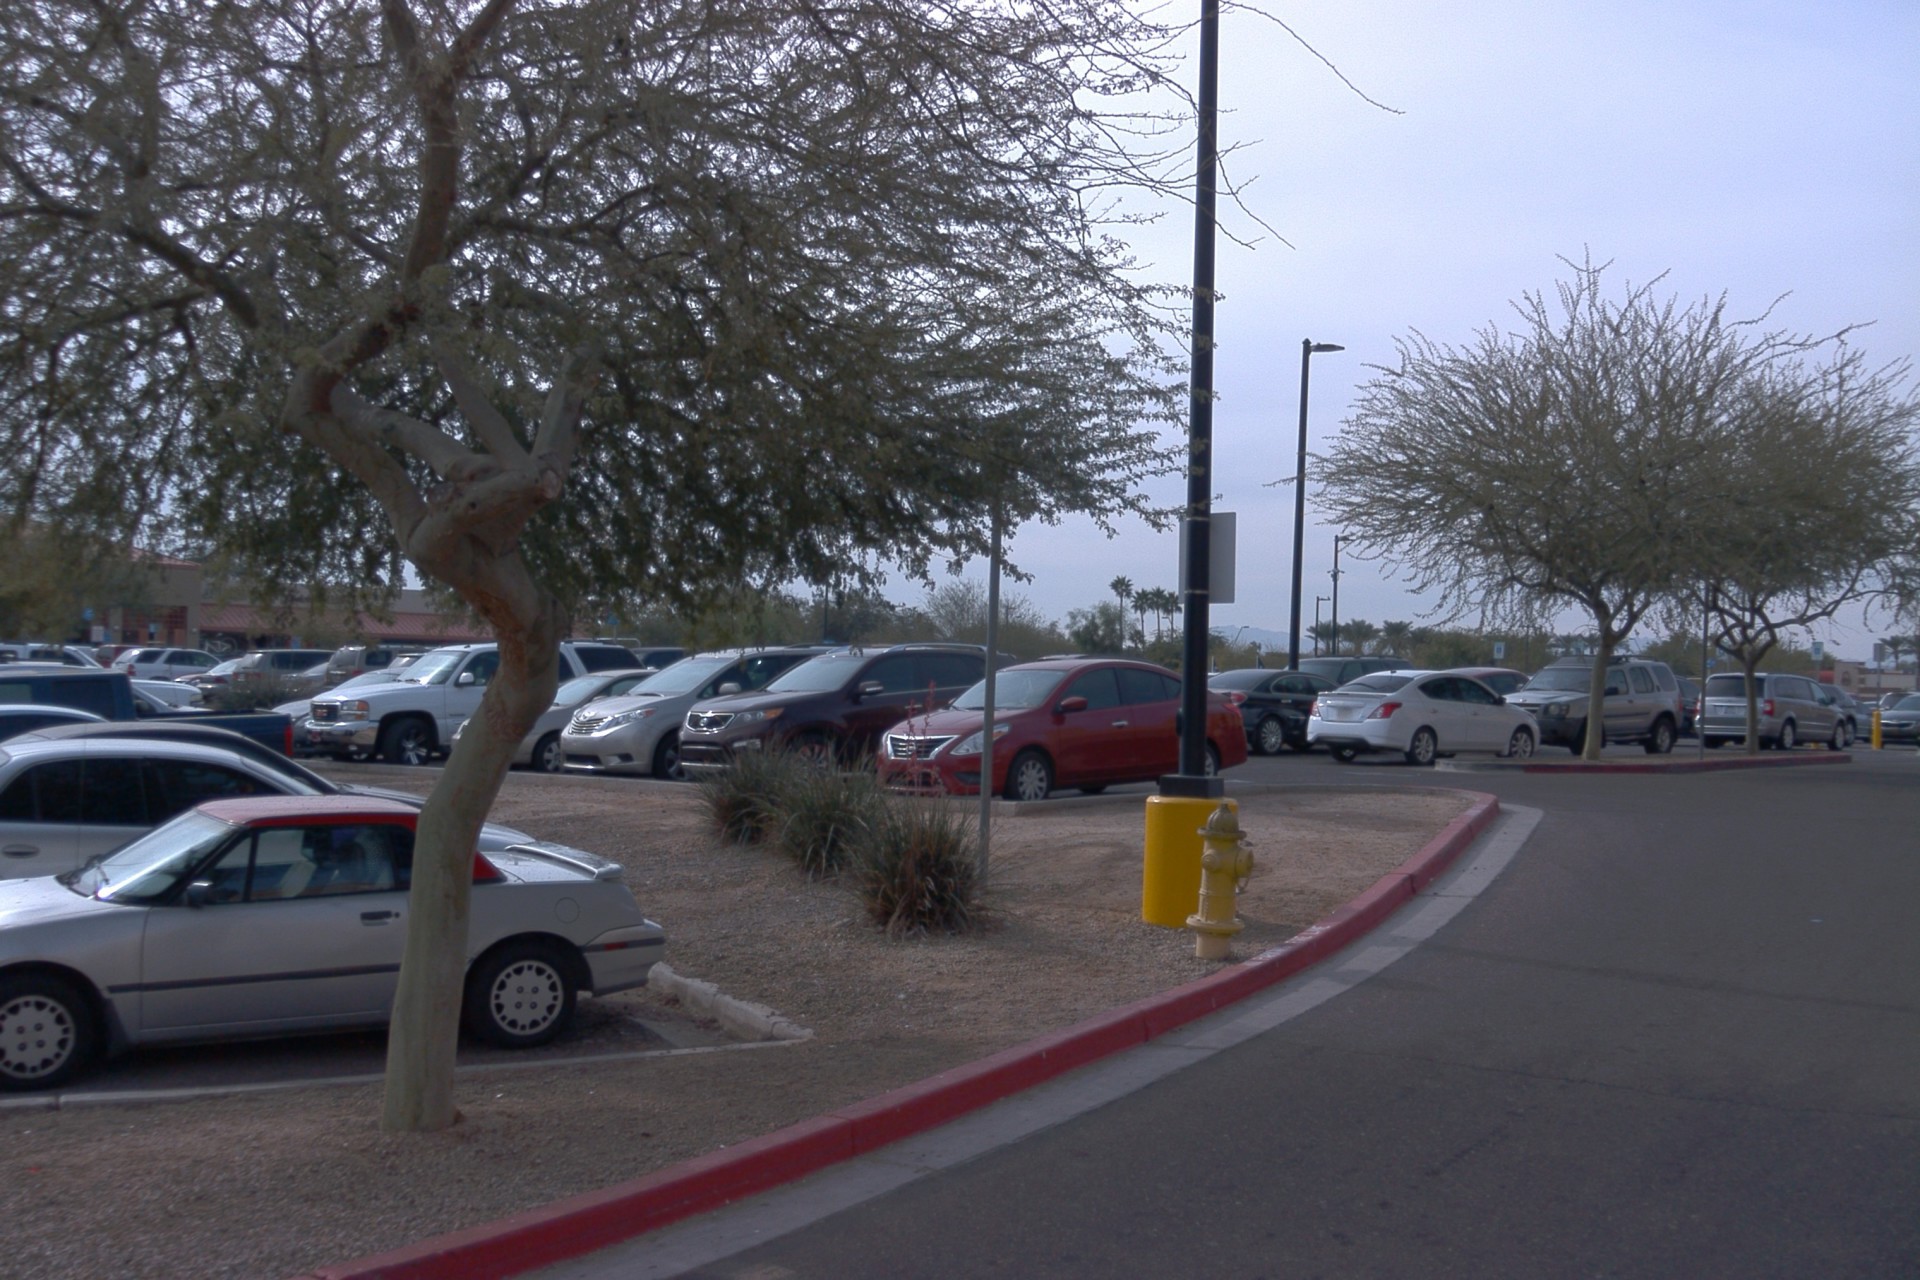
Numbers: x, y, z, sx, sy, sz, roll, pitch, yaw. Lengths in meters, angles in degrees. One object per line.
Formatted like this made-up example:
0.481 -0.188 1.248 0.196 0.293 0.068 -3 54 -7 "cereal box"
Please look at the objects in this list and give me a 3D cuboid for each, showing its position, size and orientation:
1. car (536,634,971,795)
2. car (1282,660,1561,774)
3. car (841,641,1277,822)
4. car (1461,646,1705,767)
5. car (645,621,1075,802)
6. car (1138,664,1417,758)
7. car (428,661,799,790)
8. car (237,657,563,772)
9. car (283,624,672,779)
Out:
-2.577 0.927 26.649 5.125 1.870 2.257 2 -1 -39 "car"
7.496 1.216 33.502 4.548 1.680 2.161 2 -1 -43 "car"
1.143 0.909 21.777 1.958 1.680 4.603 0 -1 45 "car"
11.124 1.159 36.845 4.785 1.980 2.063 2 -1 -44 "car"
-1.100 0.813 24.600 4.725 1.930 2.278 2 -1 -44 "car"
5.574 1.215 36.066 4.912 1.500 2.131 2 -1 -42 "car"
-4.706 1.143 28.512 4.588 1.610 2.028 2 -1 -38 "car"
-8.789 1.154 32.865 2.065 1.660 4.539 0 -1 44 "car"
-7.007 0.880 30.391 4.965 2.090 2.377 2 -1 -39 "car"
